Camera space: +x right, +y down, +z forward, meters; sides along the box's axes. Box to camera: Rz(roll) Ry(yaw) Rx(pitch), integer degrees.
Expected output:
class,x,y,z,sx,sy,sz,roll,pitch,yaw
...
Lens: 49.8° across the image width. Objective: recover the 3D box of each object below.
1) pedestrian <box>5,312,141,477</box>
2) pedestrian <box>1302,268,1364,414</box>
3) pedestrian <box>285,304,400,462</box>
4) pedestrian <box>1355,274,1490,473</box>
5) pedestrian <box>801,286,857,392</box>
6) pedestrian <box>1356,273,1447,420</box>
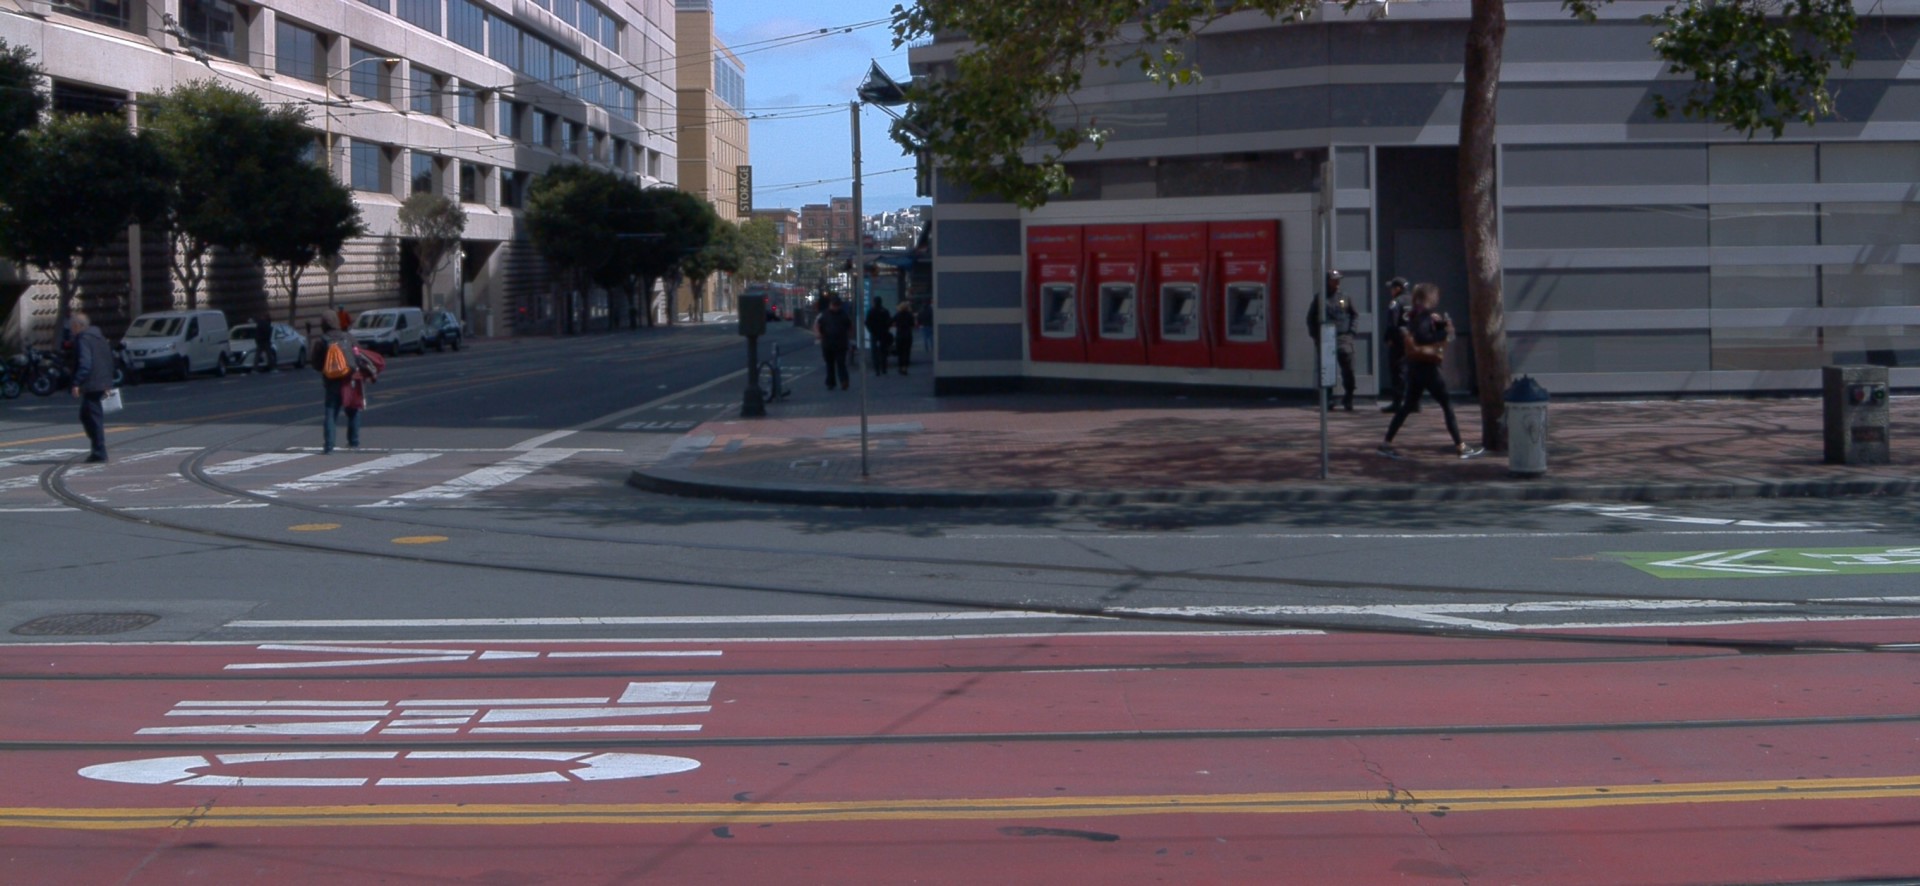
class,x,y,z,sx,sy,sz,roll,pitch,yaw
pedestrian,-9.965,-0.561,23.251,1.095,1.766,0.864,0,2,9
pedestrian,4.610,-1.276,25.591,0.723,1.766,0.684,0,2,9
pedestrian,-7.430,-0.754,24.848,1.184,1.766,1.160,-2,3,-23
pedestrian,4.507,-0.696,20.192,1.136,1.866,0.847,0,2,2
pedestrian,-2.268,-1.819,35.996,0.942,1.766,1.012,-1,3,-2
pedestrian,5.336,-1.186,24.986,0.803,1.697,0.696,-2,2,-35
